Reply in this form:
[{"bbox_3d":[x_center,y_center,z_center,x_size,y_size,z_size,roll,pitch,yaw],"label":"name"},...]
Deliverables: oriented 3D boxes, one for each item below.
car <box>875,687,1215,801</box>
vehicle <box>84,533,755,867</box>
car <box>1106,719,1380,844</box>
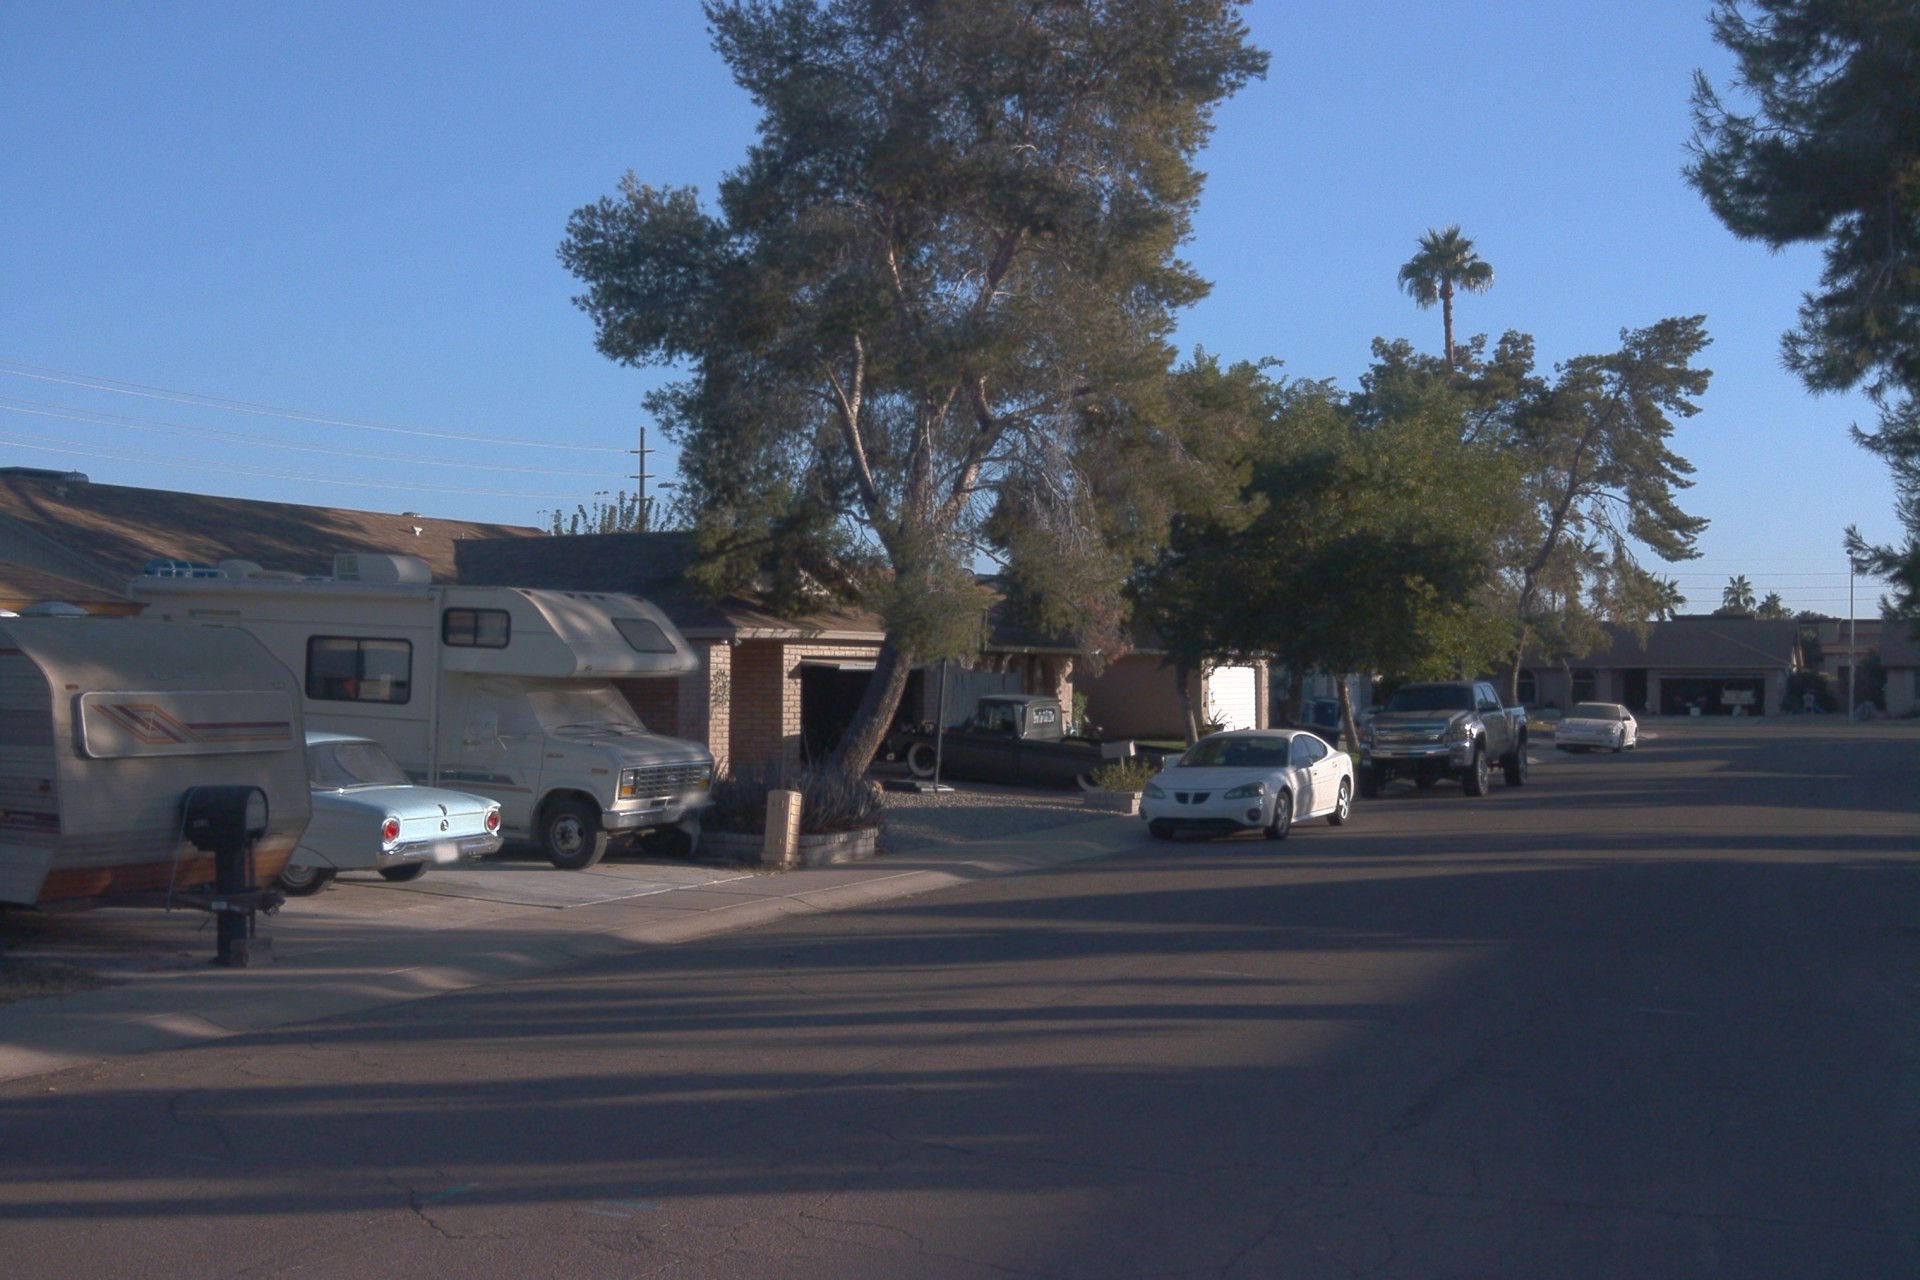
[{"bbox_3d":[1.477,1.758,36.291,5.467,1.810,2.325,0,-1,26],"label":"car"},{"bbox_3d":[-6.052,0.610,23.177,6.886,3.280,2.978,0,-1,24],"label":"vehicle"},{"bbox_3d":[4.057,1.889,28.873,2.204,1.460,5.058,0,-1,27],"label":"car"}]
